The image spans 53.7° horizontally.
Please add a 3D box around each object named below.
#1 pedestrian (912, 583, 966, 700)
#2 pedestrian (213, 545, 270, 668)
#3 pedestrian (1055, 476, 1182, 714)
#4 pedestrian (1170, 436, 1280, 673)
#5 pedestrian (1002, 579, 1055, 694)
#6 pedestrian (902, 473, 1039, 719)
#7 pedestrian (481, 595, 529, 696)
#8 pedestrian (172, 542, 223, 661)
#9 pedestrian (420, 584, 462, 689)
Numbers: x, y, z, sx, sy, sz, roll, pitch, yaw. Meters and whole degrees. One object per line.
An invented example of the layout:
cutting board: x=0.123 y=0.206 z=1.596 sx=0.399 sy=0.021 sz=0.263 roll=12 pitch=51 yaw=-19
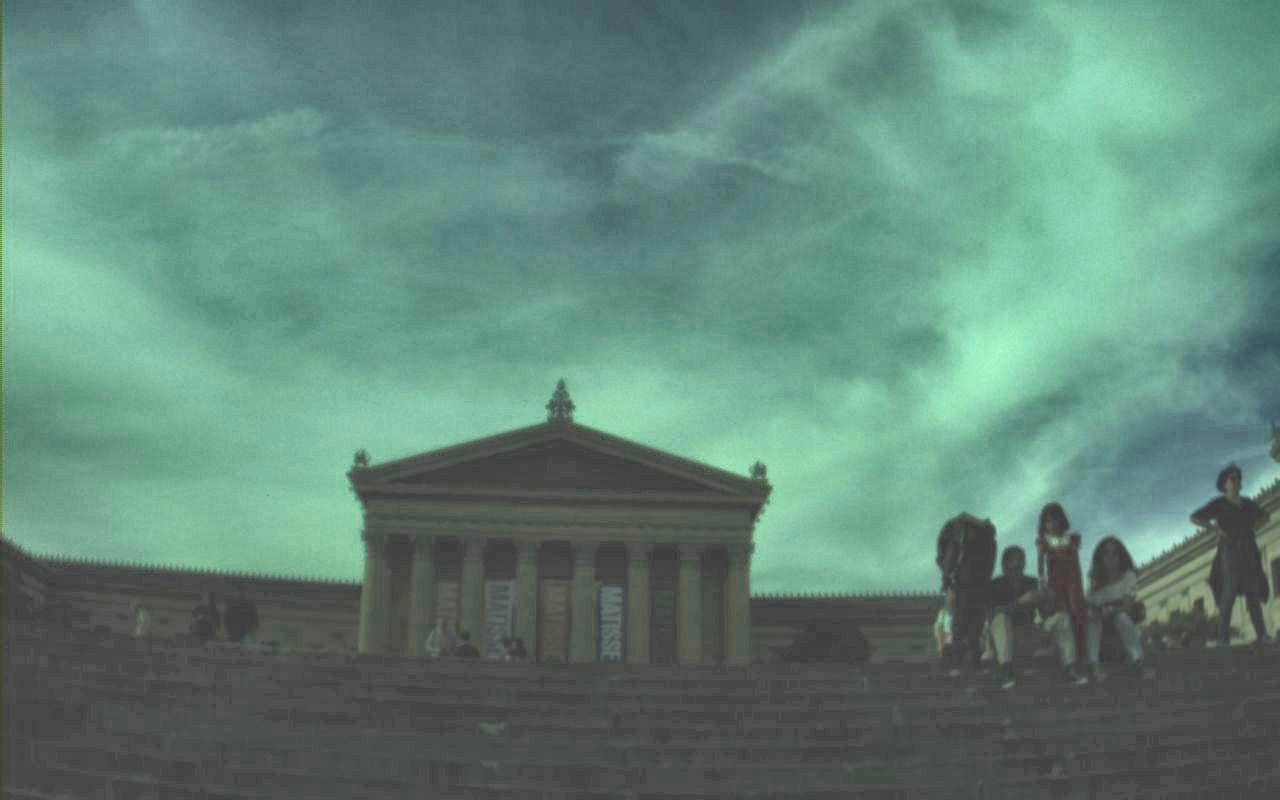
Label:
pedestrian: x=4.807 y=3.915 z=19.536 sx=0.651 sy=1.801 sz=0.654 roll=0 pitch=0 yaw=0
pedestrian: x=-6.132 y=3.192 z=18.214 sx=0.656 sy=1.782 sz=0.676 roll=0 pitch=0 yaw=-38
pedestrian: x=3.413 y=1.372 z=8.291 sx=0.803 sy=1.570 sz=0.852 roll=1 pitch=0 yaw=25
pedestrian: x=4.998 y=1.283 z=9.447 sx=0.815 sy=1.870 sz=0.816 roll=0 pitch=0 yaw=-5
pedestrian: x=6.211 y=3.813 z=19.106 sx=0.644 sy=1.766 sz=0.642 roll=0 pitch=0 yaw=4
pedestrian: x=2.267 y=1.339 z=8.397 sx=0.788 sy=1.601 sz=0.828 roll=0 pitch=0 yaw=6
pedestrian: x=-2.511 y=4.552 z=22.815 sx=0.634 sy=1.766 sz=0.612 roll=0 pitch=0 yaw=-43
pedestrian: x=-6.847 y=3.147 z=18.163 sx=0.692 sy=1.755 sz=0.733 roll=0 pitch=0 yaw=-16
pedestrian: x=-3.585 y=4.268 z=22.041 sx=0.647 sy=1.803 sz=0.639 roll=0 pitch=0 yaw=-17
